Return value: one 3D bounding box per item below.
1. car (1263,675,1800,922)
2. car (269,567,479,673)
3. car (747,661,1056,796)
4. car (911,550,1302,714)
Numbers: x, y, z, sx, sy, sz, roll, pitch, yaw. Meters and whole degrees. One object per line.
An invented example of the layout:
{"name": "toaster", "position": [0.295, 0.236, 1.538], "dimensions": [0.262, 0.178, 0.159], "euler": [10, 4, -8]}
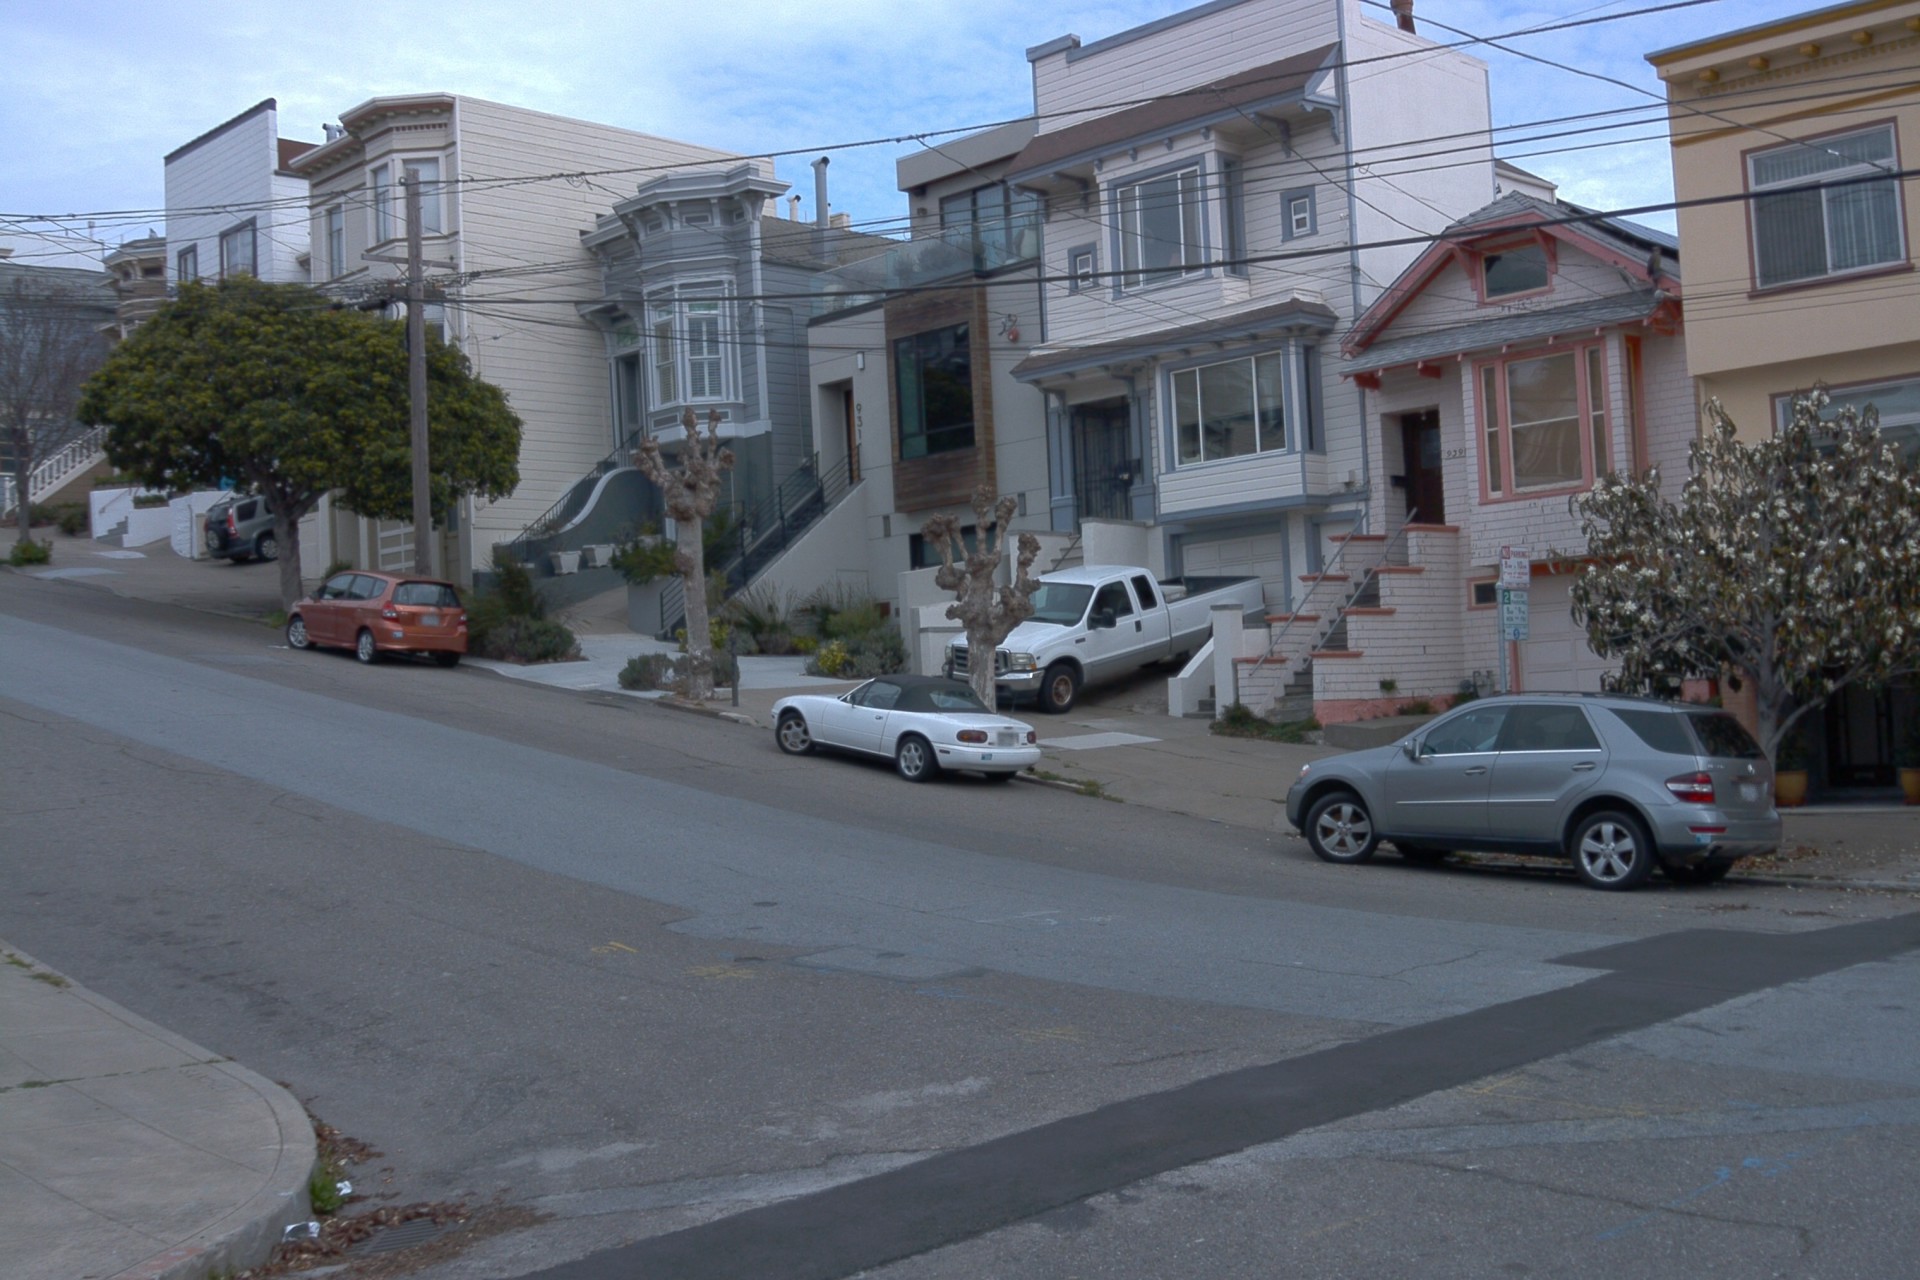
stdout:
{"name": "car", "position": [5.338, 1.377, 19.578], "dimensions": [1.958, 1.930, 4.549], "euler": [0, 1, -44]}
{"name": "car", "position": [-10.007, -0.357, 34.845], "dimensions": [3.774, 1.703, 1.781], "euler": [1, 1, 44]}
{"name": "car", "position": [-0.788, 1.048, 25.697], "dimensions": [3.800, 1.460, 1.723], "euler": [1, 1, 45]}
{"name": "car", "position": [2.479, -0.140, 33.130], "dimensions": [6.277, 2.400, 2.723], "euler": [0, 1, -43]}
